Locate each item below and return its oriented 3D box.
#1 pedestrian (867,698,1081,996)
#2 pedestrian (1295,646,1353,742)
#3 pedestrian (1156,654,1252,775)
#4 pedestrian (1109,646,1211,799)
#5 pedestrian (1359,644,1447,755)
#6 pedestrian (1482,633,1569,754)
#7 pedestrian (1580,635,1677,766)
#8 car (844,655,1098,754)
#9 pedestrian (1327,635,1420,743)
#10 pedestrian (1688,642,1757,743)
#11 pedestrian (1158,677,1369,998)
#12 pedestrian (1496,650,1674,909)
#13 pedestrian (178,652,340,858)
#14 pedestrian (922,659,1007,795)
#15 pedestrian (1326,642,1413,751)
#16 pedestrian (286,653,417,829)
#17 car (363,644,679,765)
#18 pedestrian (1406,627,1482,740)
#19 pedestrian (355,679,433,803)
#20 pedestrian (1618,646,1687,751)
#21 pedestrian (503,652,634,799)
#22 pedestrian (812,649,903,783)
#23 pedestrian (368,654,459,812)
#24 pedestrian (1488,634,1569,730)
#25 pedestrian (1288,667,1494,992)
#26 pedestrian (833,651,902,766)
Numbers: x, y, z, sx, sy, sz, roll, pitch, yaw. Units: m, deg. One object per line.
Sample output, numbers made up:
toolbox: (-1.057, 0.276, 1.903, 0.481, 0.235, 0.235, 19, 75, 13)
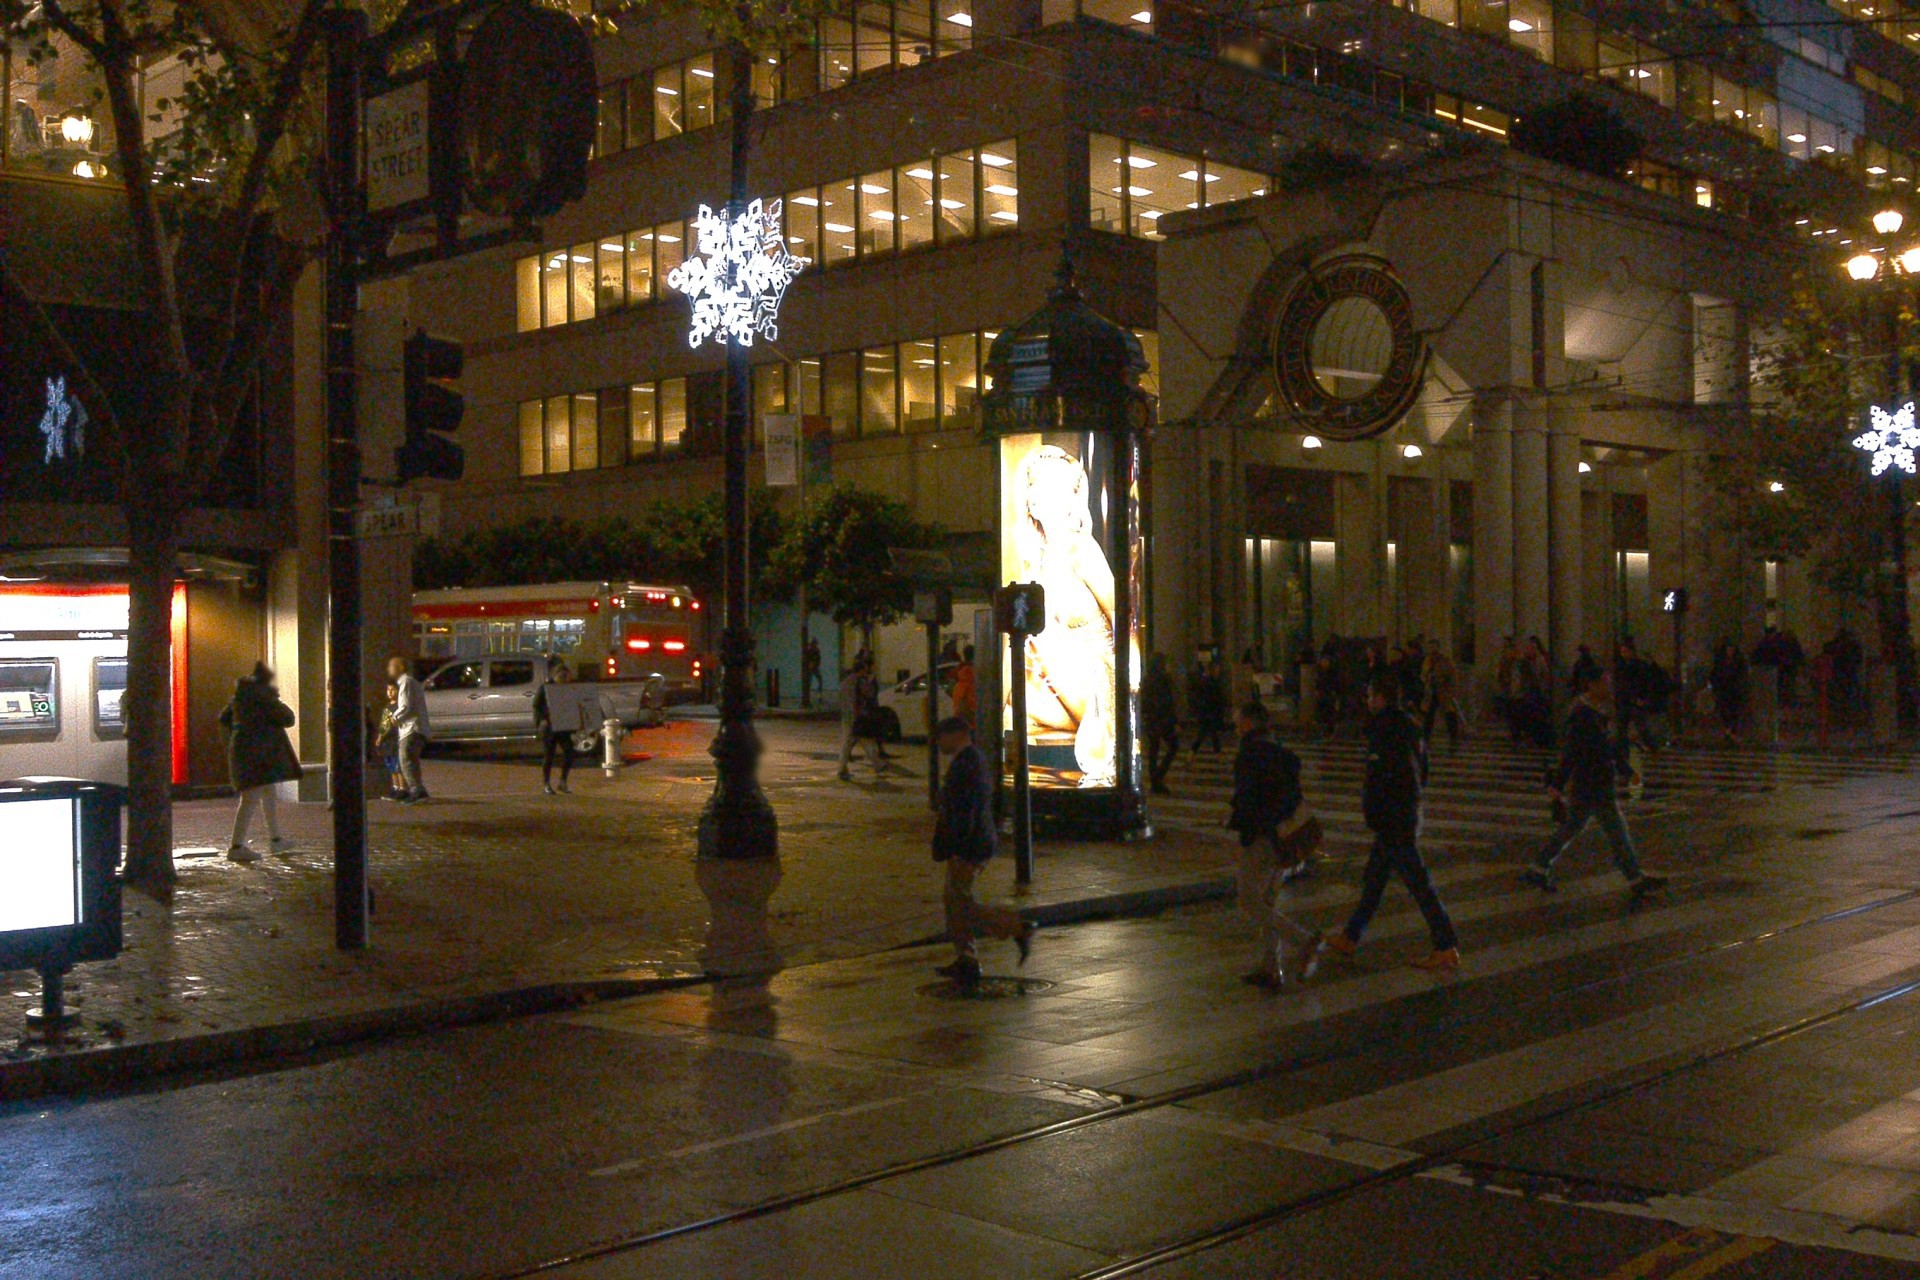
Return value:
pedestrian: (0.109, 1.273, 13.139, 1.059, 1.740, 1.170, 0, 1, 18)
pedestrian: (6.551, 0.956, 36.969, 0.740, 1.680, 0.757, 1, 1, 42)
pedestrian: (3.514, 1.054, 29.607, 1.124, 1.690, 0.784, -1, 1, -30)
pedestrian: (2.546, 1.023, 26.149, 1.066, 1.880, 0.763, -1, 1, -39)
pedestrian: (7.134, 0.939, 33.077, 1.146, 1.730, 0.838, -1, 1, -38)
pedestrian: (9.257, 0.850, 33.604, 1.418, 1.920, 0.742, -1, 1, -43)
pedestrian: (9.758, 0.856, 29.987, 1.161, 1.850, 0.837, -1, 1, -38)
car: (0.147, 1.110, 36.931, 4.444, 1.580, 1.870, 1, 1, 42)
pedestrian: (7.004, 0.805, 34.797, 1.035, 1.770, 1.284, 1, 1, 42)
pedestrian: (12.658, 0.856, 34.085, 0.886, 1.620, 1.083, 1, 1, 30)
pedestrian: (1.812, 1.134, 12.252, 1.040, 1.790, 0.698, 1, 1, 34)
pedestrian: (4.962, 1.062, 16.295, 1.200, 1.940, 0.927, 0, 1, 26)
pedestrian: (-6.192, 0.982, 18.142, 1.120, 1.720, 0.909, -1, 1, -37)
pedestrian: (0.060, 1.127, 27.070, 0.934, 1.730, 0.628, -1, 1, -40)
pedestrian: (6.935, 0.933, 34.752, 0.913, 1.780, 1.262, 1, 1, 42)
pedestrian: (-6.184, 0.997, 20.877, 0.806, 1.710, 0.985, 1, 1, 40)
car: (-7.353, 1.061, 34.753, 4.910, 1.960, 1.934, 0, 1, 0)
pedestrian: (8.409, 0.740, 35.686, 0.964, 1.900, 1.057, 1, 1, 35)
pedestrian: (-6.397, 1.127, 23.201, 0.636, 1.350, 0.644, -1, 1, -40)
pedestrian: (11.273, 0.931, 33.434, 0.699, 1.650, 1.101, 1, 1, 40)
pedestrian: (-4.689, 0.997, 24.607, 1.047, 1.670, 1.135, 1, 1, 44)
pedestrian: (-1.455, 1.066, 29.290, 0.753, 1.850, 1.064, 1, 1, 42)
pedestrian: (-6.023, 1.004, 22.624, 0.700, 1.670, 0.879, -1, 1, -35)
pedestrian: (10.182, 0.734, 36.791, 1.080, 1.680, 1.025, 1, 1, 37)
pedestrian: (2.683, 1.131, 12.778, 1.007, 1.890, 0.793, 1, 1, 36)
pedestrian: (-1.463, 1.073, 32.514, 0.891, 1.760, 0.917, 0, 1, 11)
